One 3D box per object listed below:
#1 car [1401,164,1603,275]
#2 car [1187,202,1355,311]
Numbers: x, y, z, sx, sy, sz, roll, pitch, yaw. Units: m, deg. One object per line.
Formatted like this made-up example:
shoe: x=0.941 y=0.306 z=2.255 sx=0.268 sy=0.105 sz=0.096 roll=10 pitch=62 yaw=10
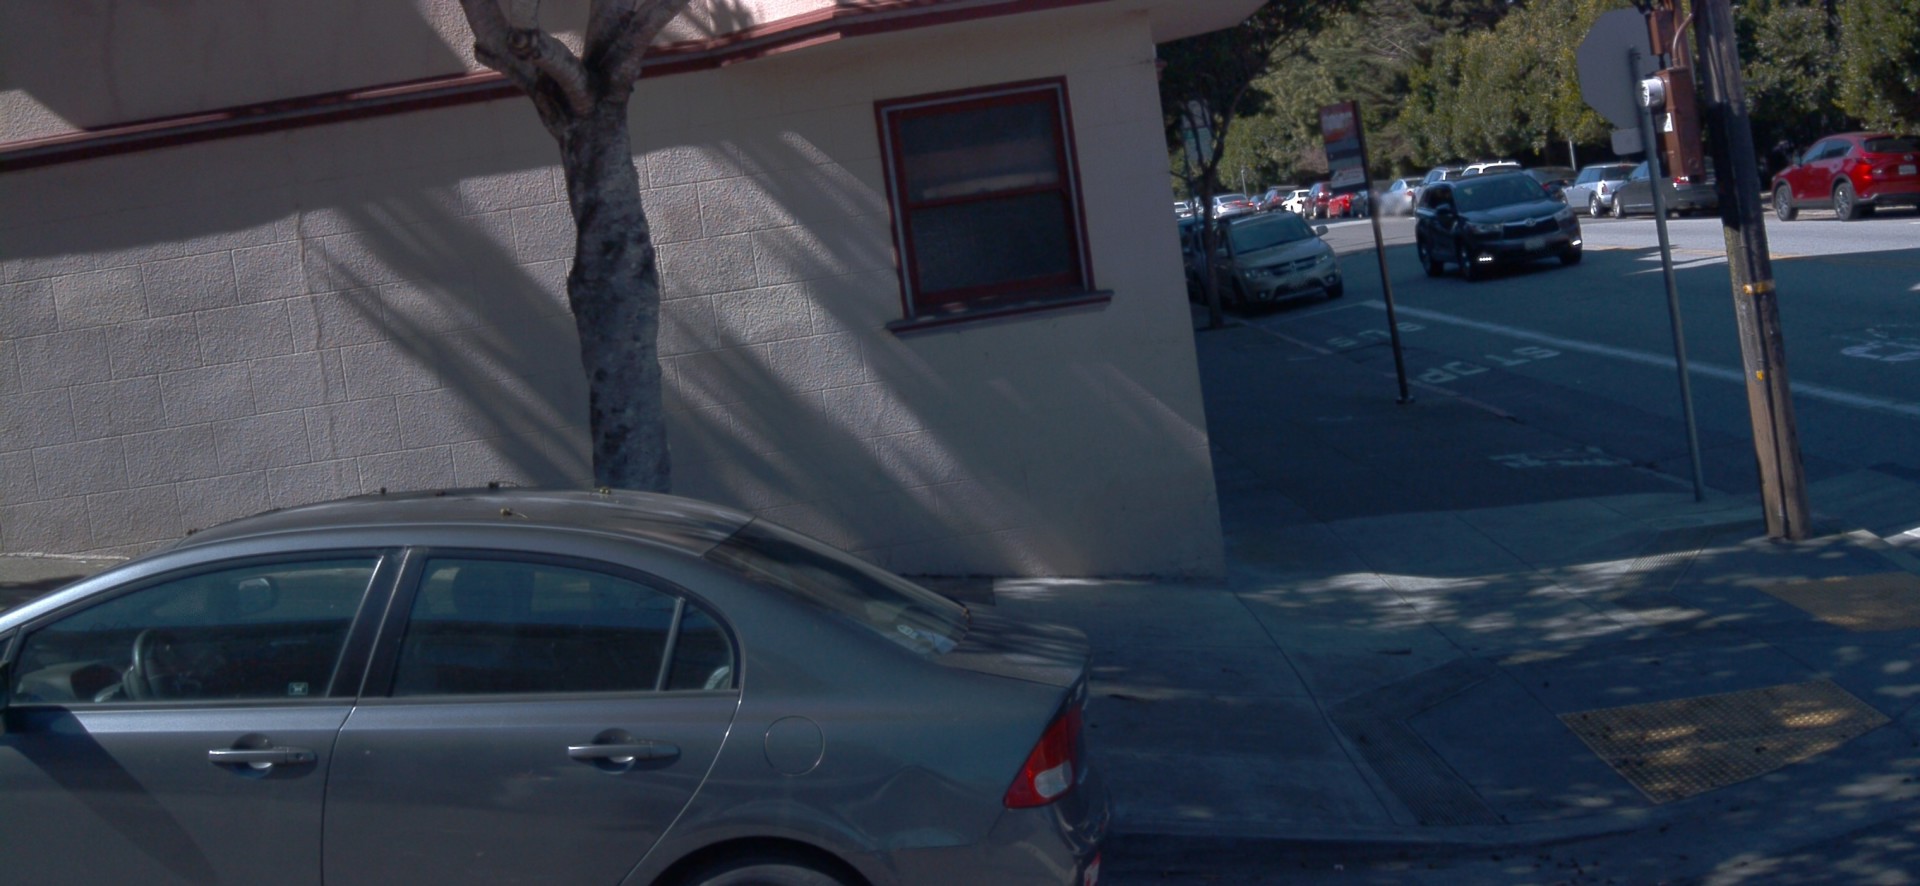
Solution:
car: x=9.343 y=-3.934 z=35.861 sx=2.176 sy=1.789 sz=4.894 roll=0 pitch=6 yaw=-1
car: x=5.709 y=-3.554 z=38.376 sx=2.225 sy=1.869 sz=5.044 roll=0 pitch=6 yaw=-2
